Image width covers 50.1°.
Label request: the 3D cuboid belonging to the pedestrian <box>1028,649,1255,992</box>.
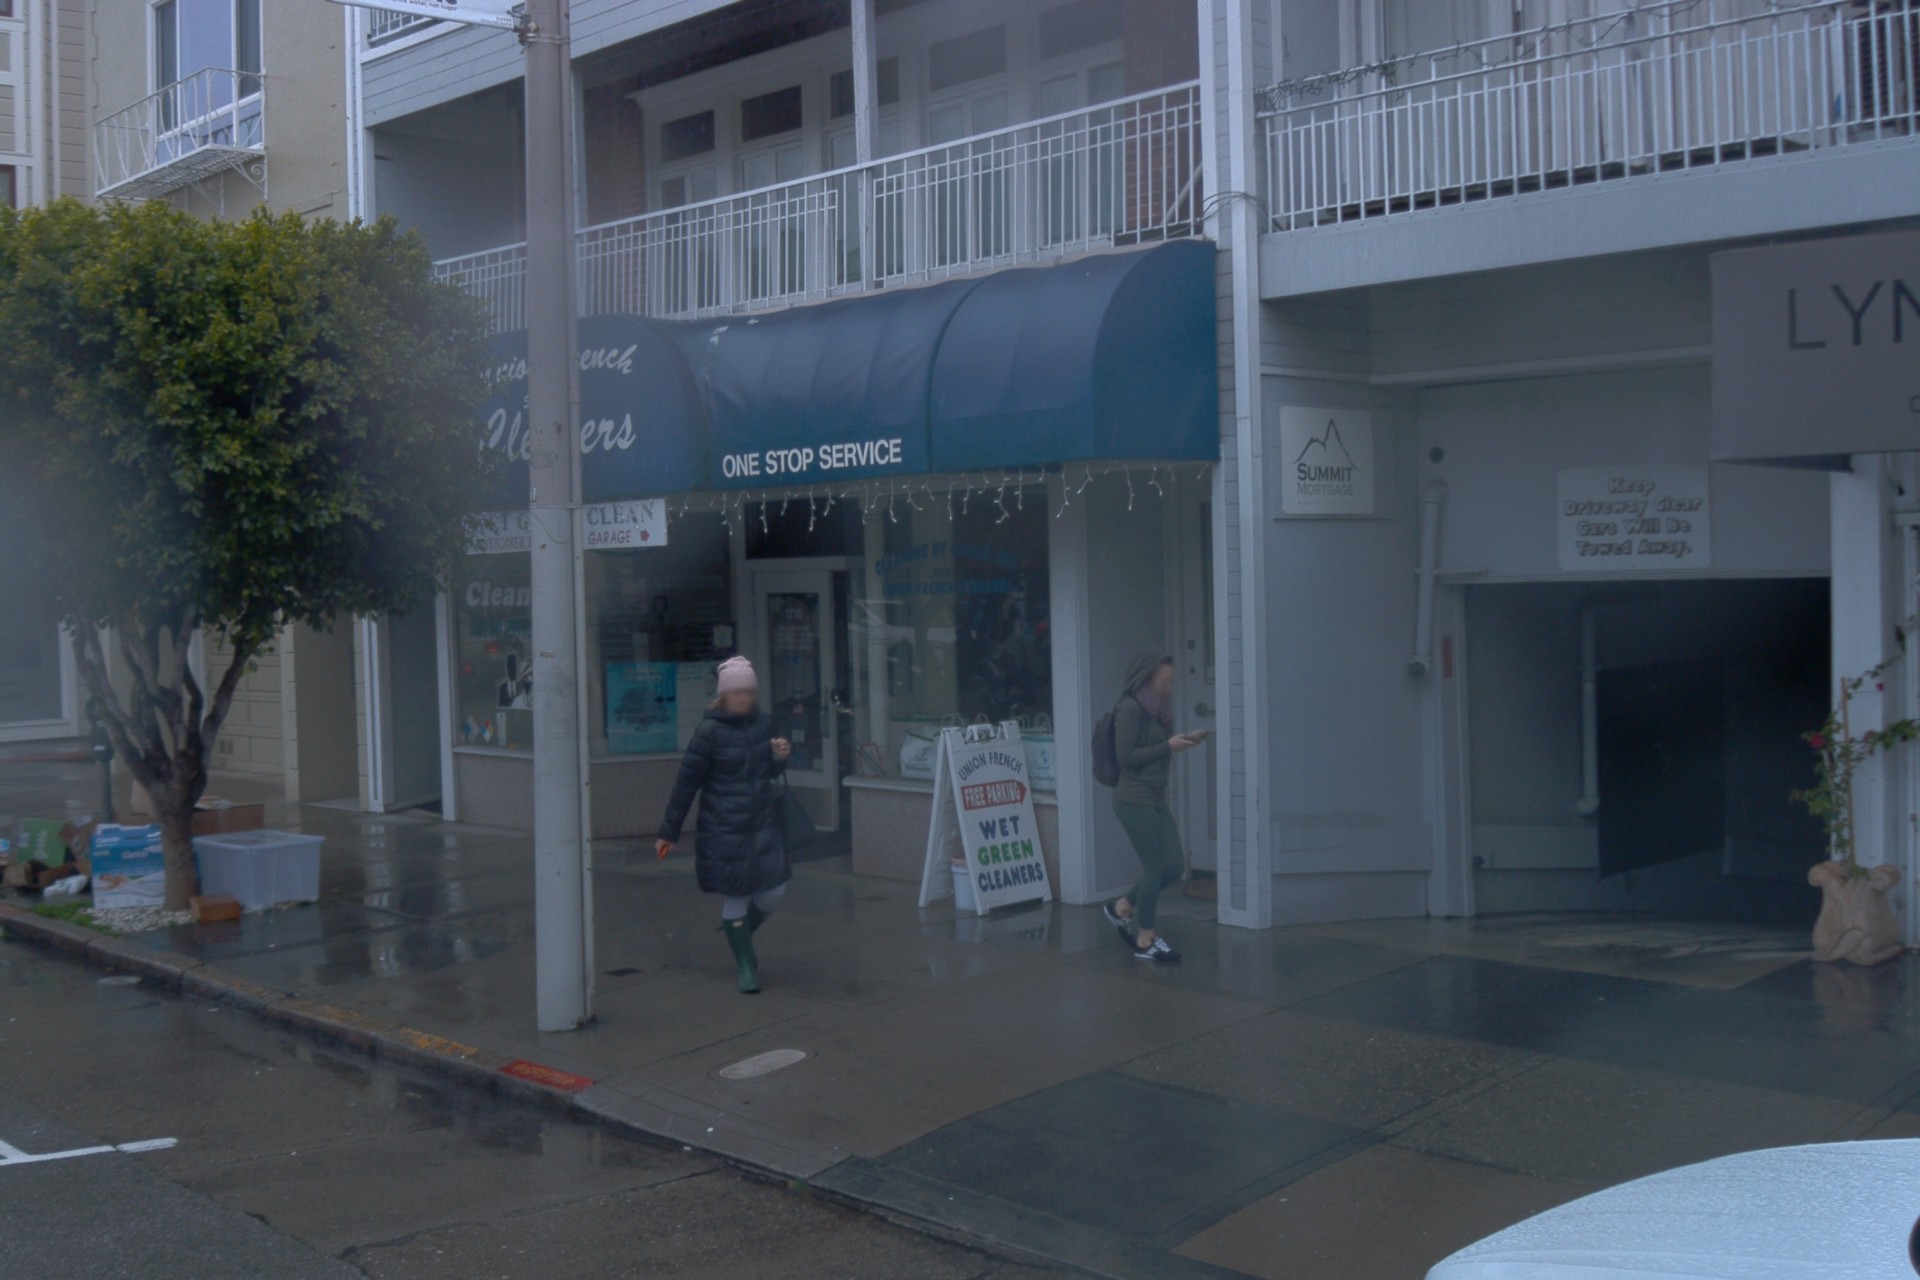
[{"bbox_3d":[0.947,0.902,10.807,0.962,1.700,0.677,1,1,44],"label":"pedestrian"}]

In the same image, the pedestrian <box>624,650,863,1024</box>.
[{"bbox_3d":[-1.097,0.933,10.283,0.914,1.750,0.930,0,0,-25],"label":"pedestrian"}]
